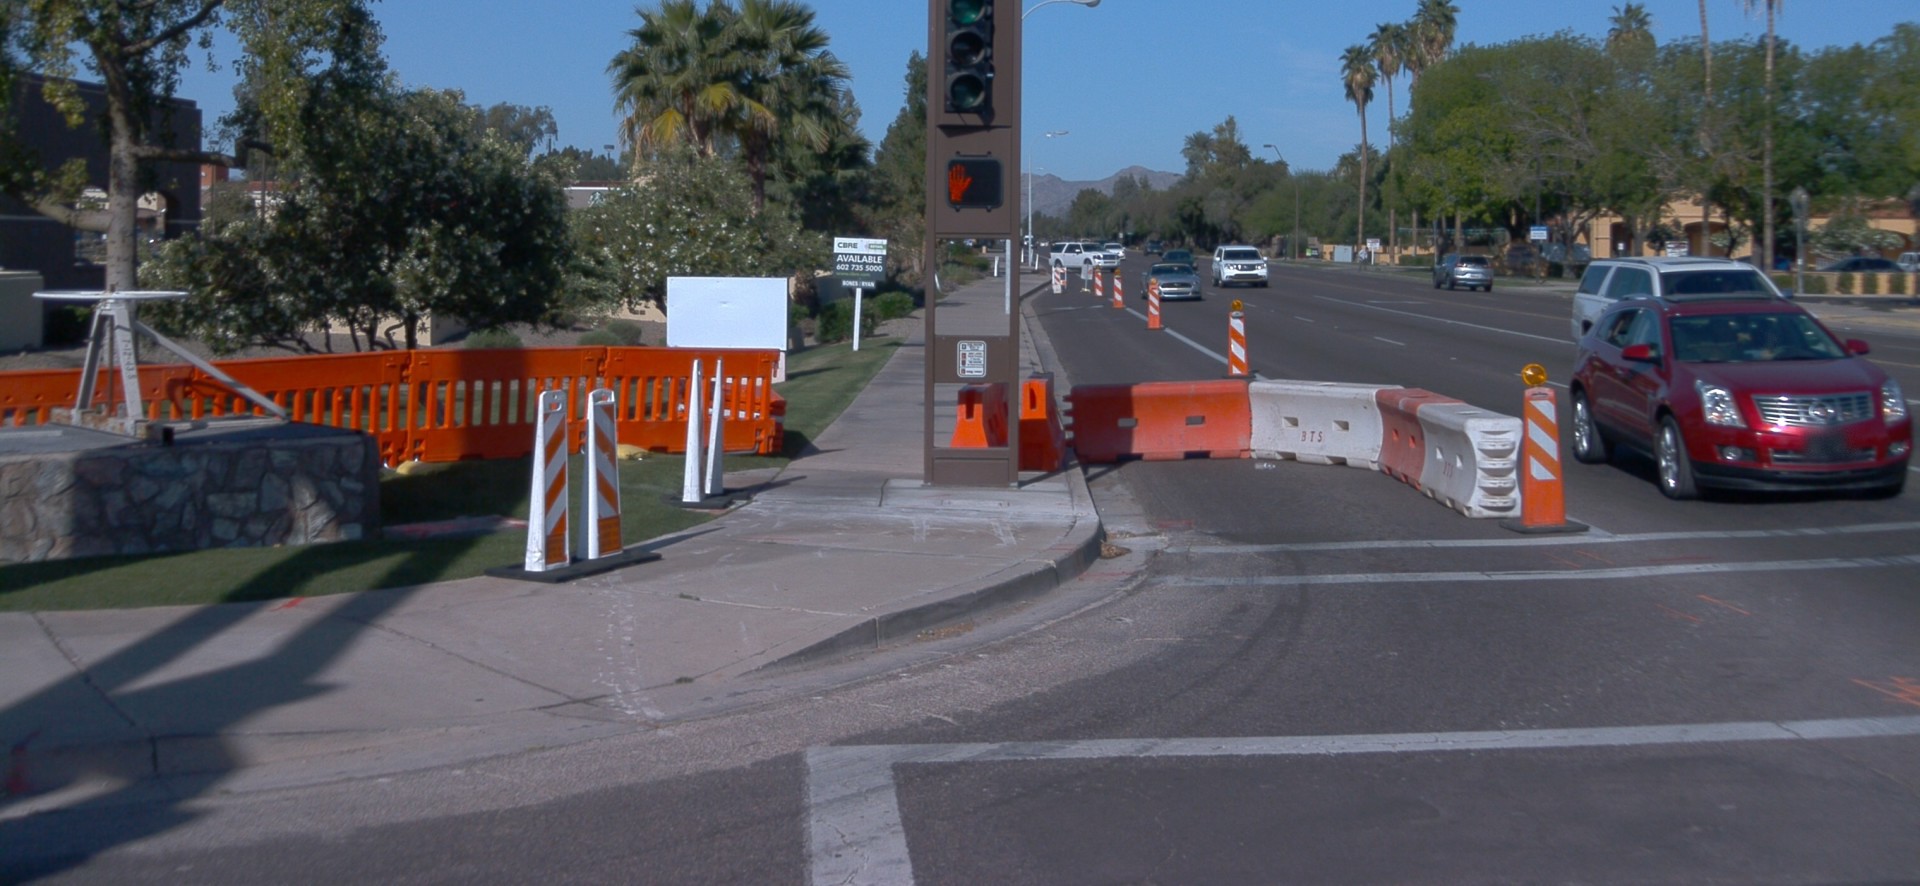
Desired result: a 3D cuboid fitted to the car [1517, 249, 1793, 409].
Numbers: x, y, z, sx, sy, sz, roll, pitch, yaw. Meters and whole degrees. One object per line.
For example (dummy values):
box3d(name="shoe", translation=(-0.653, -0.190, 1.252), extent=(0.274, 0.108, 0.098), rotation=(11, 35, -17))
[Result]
box3d(name="car", translation=(9.879, -1.765, 30.058), extent=(2.271, 2.043, 5.734), rotation=(1, 5, 2))

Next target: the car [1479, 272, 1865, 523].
box3d(name="car", translation=(6.307, -0.566, 19.041), extent=(2.109, 1.904, 4.815), rotation=(1, 5, 3))
